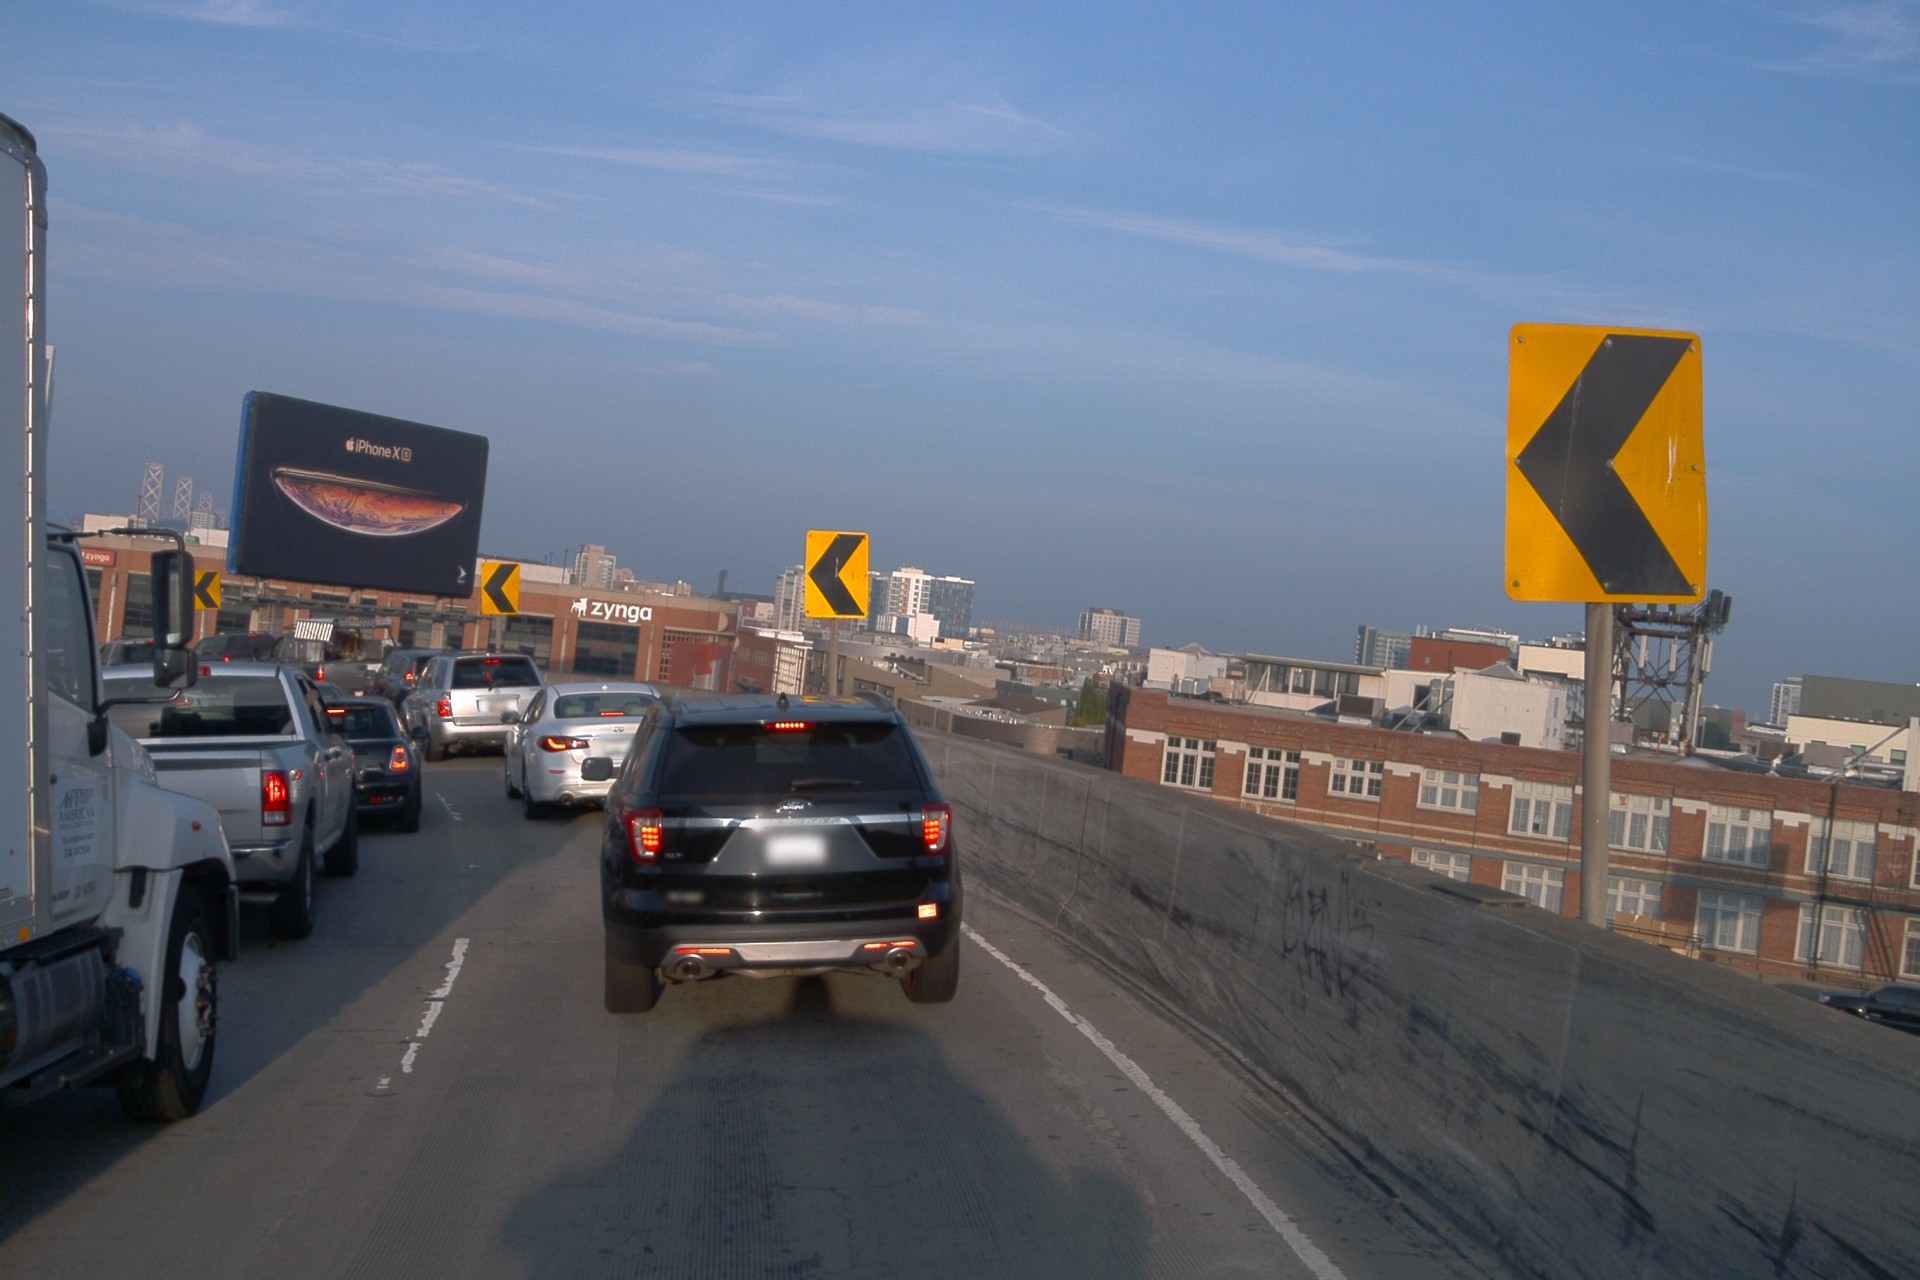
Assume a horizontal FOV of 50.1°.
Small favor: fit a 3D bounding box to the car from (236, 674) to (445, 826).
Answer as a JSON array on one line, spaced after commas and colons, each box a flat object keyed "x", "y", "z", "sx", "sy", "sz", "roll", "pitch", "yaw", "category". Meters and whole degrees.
[{"x": -6.703, "y": 1.128, "z": 22.587, "sx": 1.934, "sy": 1.411, "sz": 4.084, "roll": 0, "pitch": 0, "yaw": -13, "category": "car"}]

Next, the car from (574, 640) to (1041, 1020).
[{"x": -1.193, "y": 0.936, "z": 12.730, "sx": 2.327, "sy": 1.850, "sz": 4.876, "roll": 0, "pitch": 0, "yaw": -11, "category": "car"}]

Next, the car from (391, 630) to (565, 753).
[{"x": -7.836, "y": 0.766, "z": 33.067, "sx": 1.992, "sy": 1.820, "sz": 4.393, "roll": 0, "pitch": 0, "yaw": -23, "category": "car"}]

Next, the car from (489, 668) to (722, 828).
[{"x": -4.242, "y": 1.159, "z": 23.962, "sx": 2.144, "sy": 1.590, "sz": 4.509, "roll": 0, "pitch": 0, "yaw": -17, "category": "car"}]
